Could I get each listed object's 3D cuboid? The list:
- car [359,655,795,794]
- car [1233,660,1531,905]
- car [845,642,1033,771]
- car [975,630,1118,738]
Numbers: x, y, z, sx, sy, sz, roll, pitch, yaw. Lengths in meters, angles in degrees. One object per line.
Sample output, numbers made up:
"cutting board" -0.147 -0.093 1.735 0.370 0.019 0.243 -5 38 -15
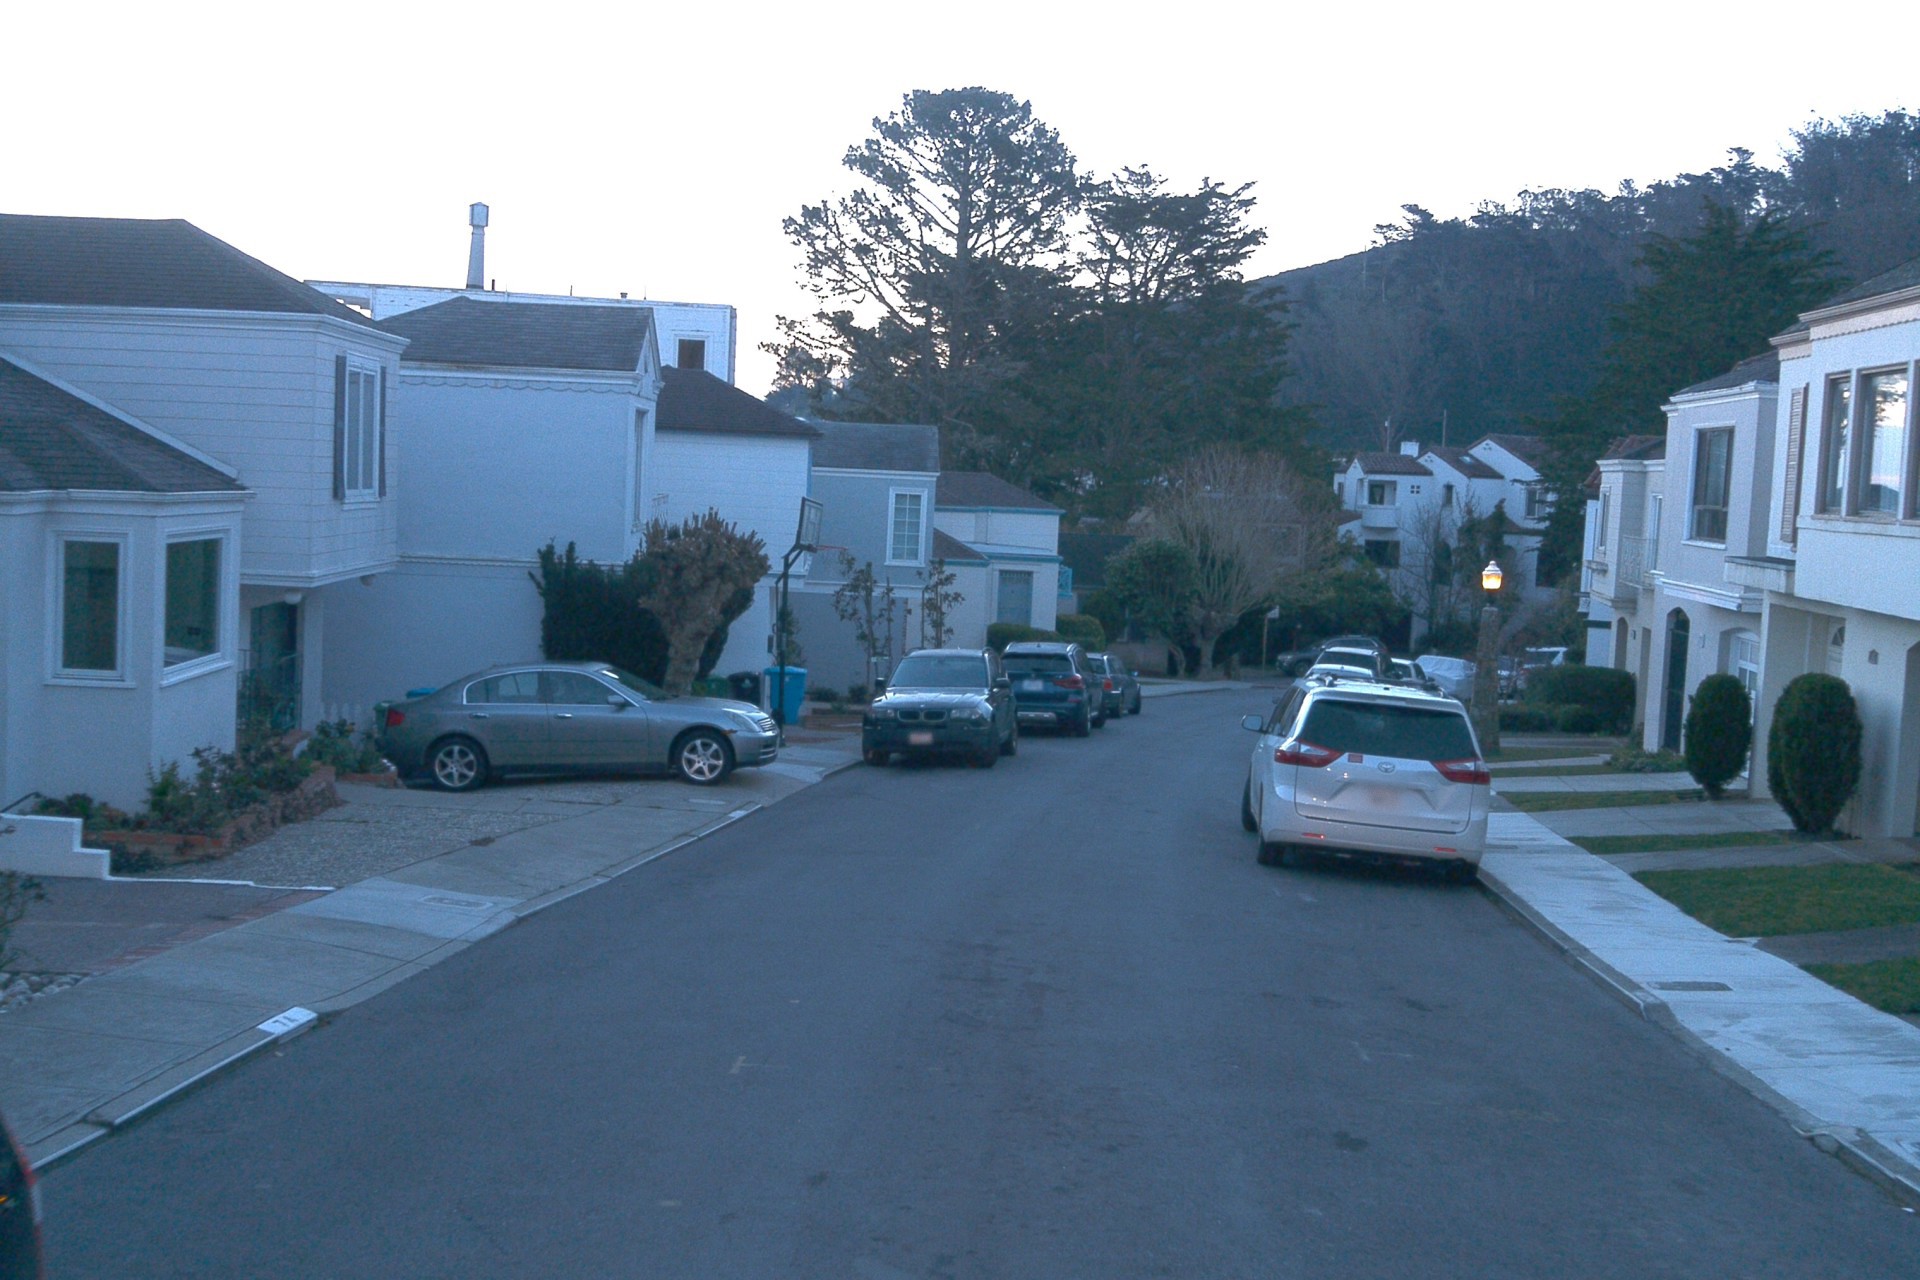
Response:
"car" -4.468 0.968 24.655 4.769 1.580 1.989 0 0 3
"car" 3.926 1.232 20.220 2.376 2.050 5.074 0 0 6
"car" -0.214 0.906 30.350 2.096 1.740 4.526 0 0 8
"car" 1.679 0.778 38.319 2.210 1.870 4.682 0 0 8
